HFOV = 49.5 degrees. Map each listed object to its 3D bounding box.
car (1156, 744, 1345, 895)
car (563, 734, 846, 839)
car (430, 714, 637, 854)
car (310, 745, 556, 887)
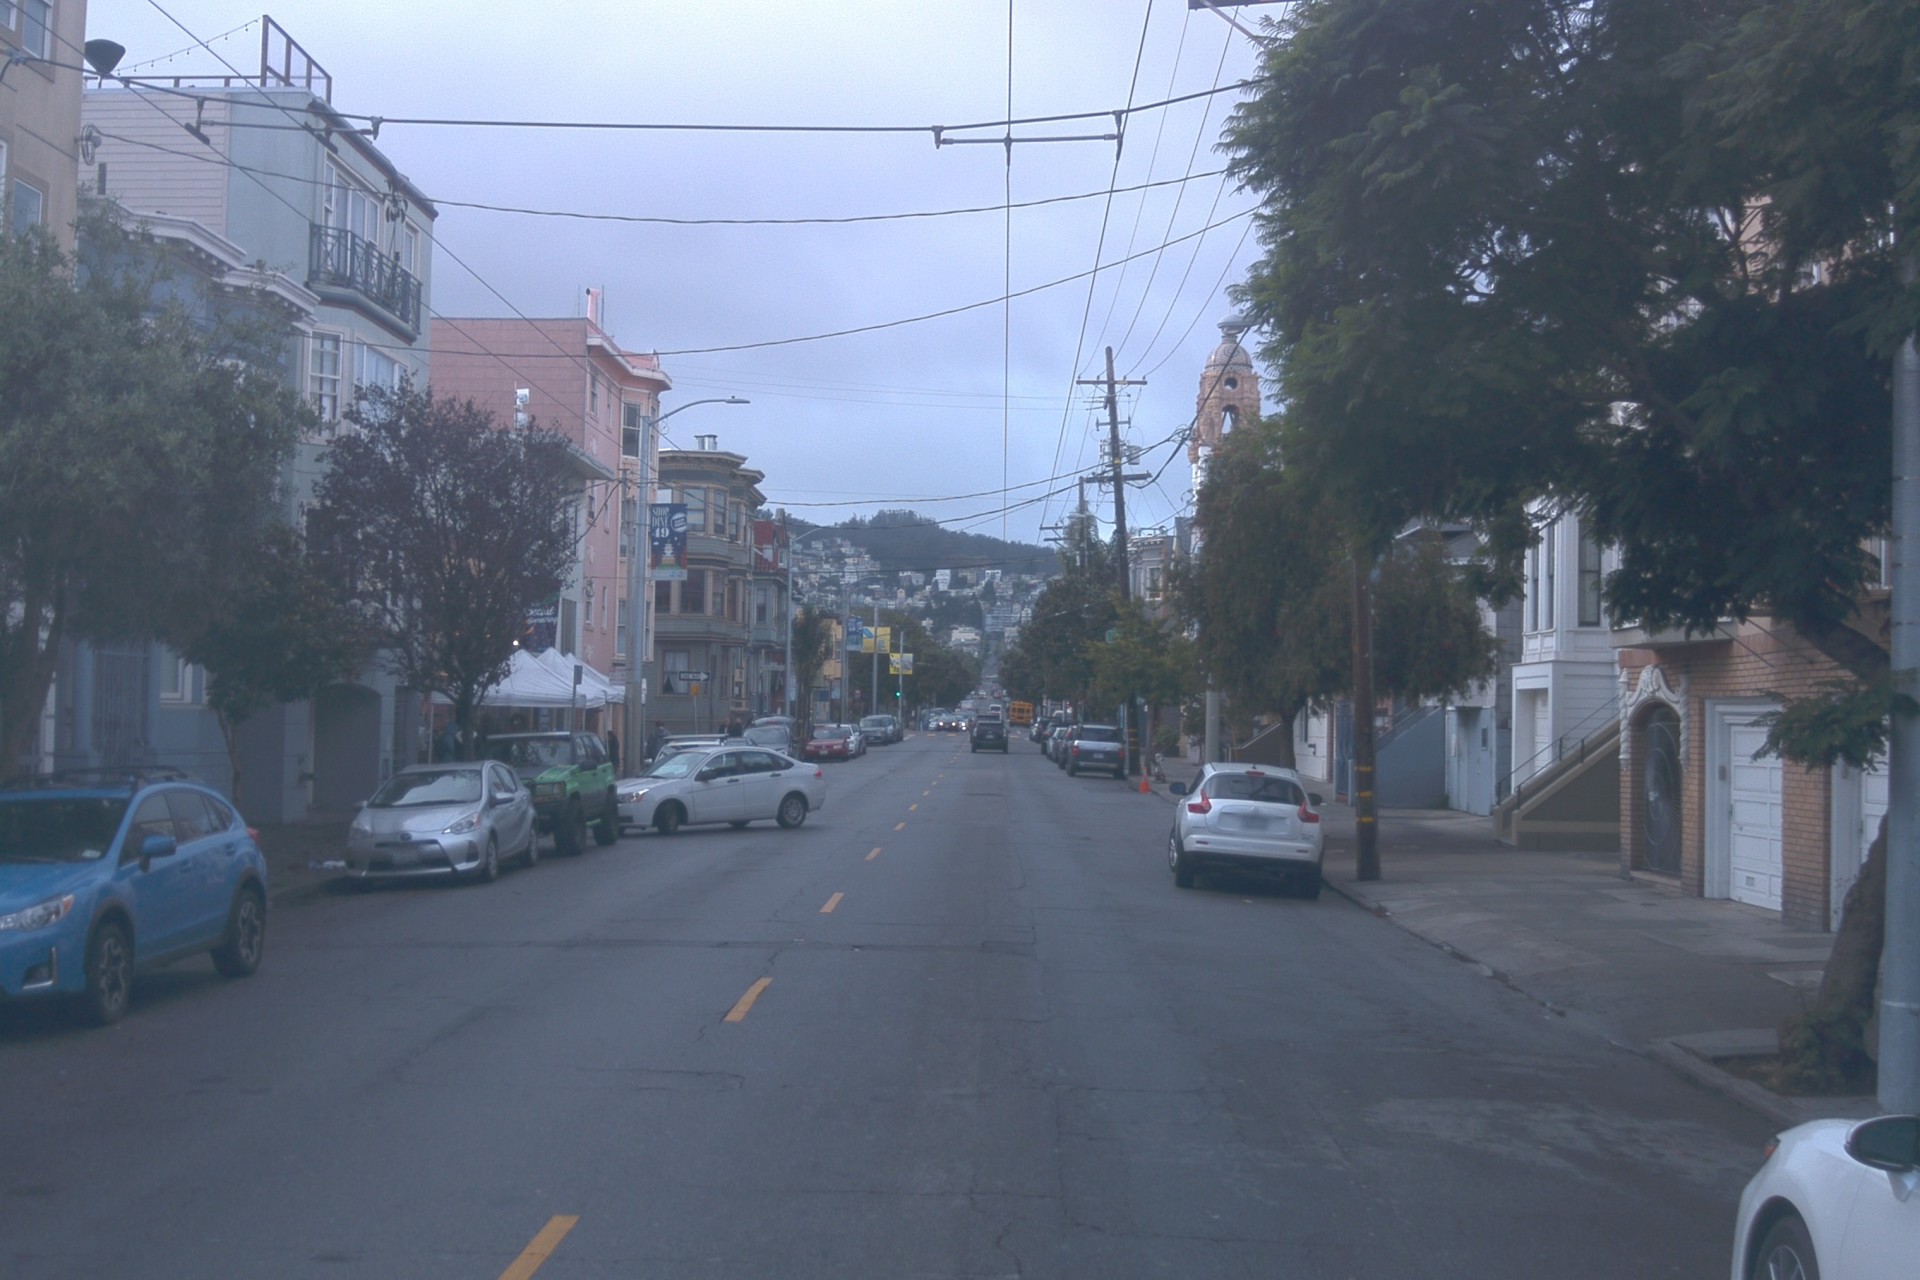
[{"bbox_3d":[3.627,2.223,26.694,2.028,1.650,4.143,1,-2,3],"label":"car"},{"bbox_3d":[-4.341,2.475,35.934,2.015,1.640,4.530,0,-2,45],"label":"car"},{"bbox_3d":[-6.194,2.053,30.829,2.012,1.830,4.572,1,-2,1],"label":"car"},{"bbox_3d":[-6.428,2.115,25.907,1.991,1.500,4.028,1,-2,0],"label":"car"}]
